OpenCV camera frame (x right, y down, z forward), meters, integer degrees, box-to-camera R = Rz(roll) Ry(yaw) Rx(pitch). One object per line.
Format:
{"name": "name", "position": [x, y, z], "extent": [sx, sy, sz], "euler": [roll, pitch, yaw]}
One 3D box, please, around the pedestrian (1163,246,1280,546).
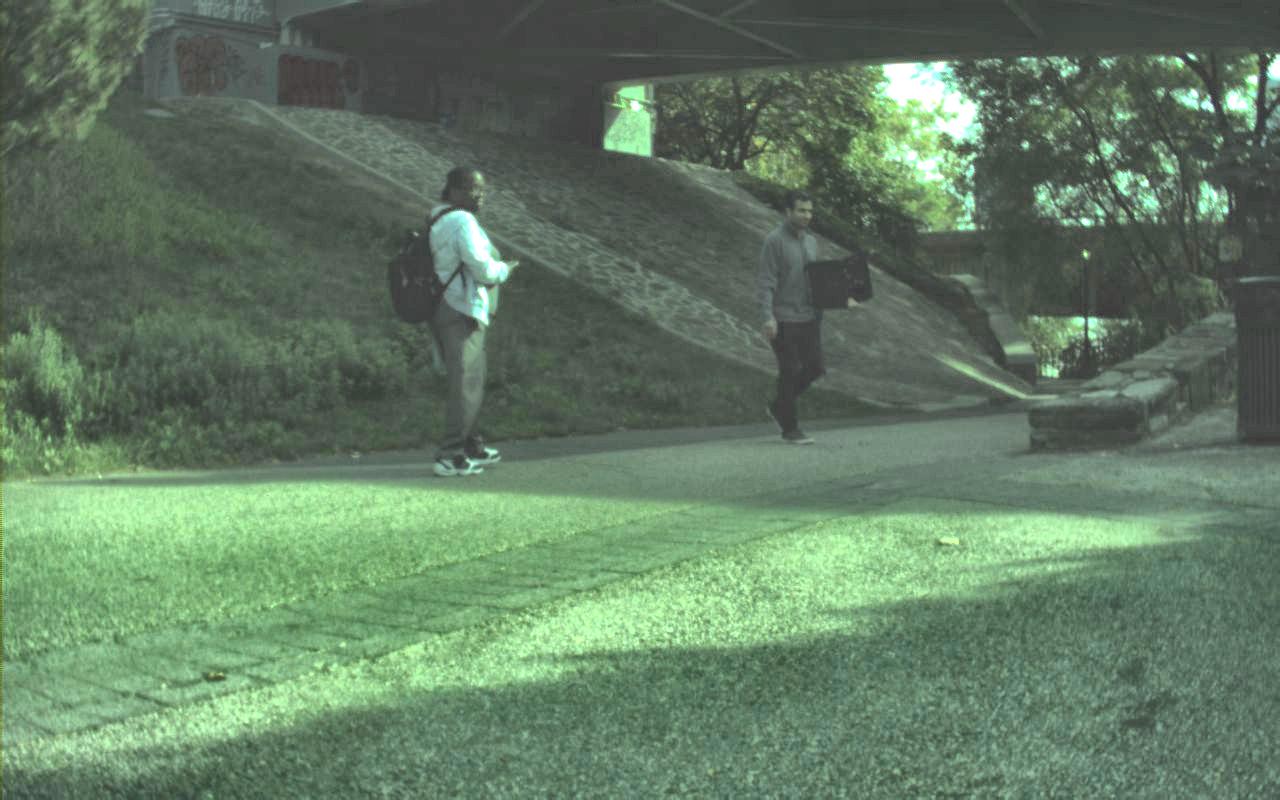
{"name": "pedestrian", "position": [3.607, -0.010, 6.657], "extent": [0.858, 1.642, 0.841], "euler": [0, 0, 0]}

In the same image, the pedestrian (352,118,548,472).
{"name": "pedestrian", "position": [-1.006, -0.545, 6.729], "extent": [0.802, 1.777, 0.875], "euler": [0, 0, 11]}

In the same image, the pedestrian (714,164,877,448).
{"name": "pedestrian", "position": [1.046, -0.611, 8.553], "extent": [0.873, 1.818, 0.913], "euler": [0, 0, -11]}
